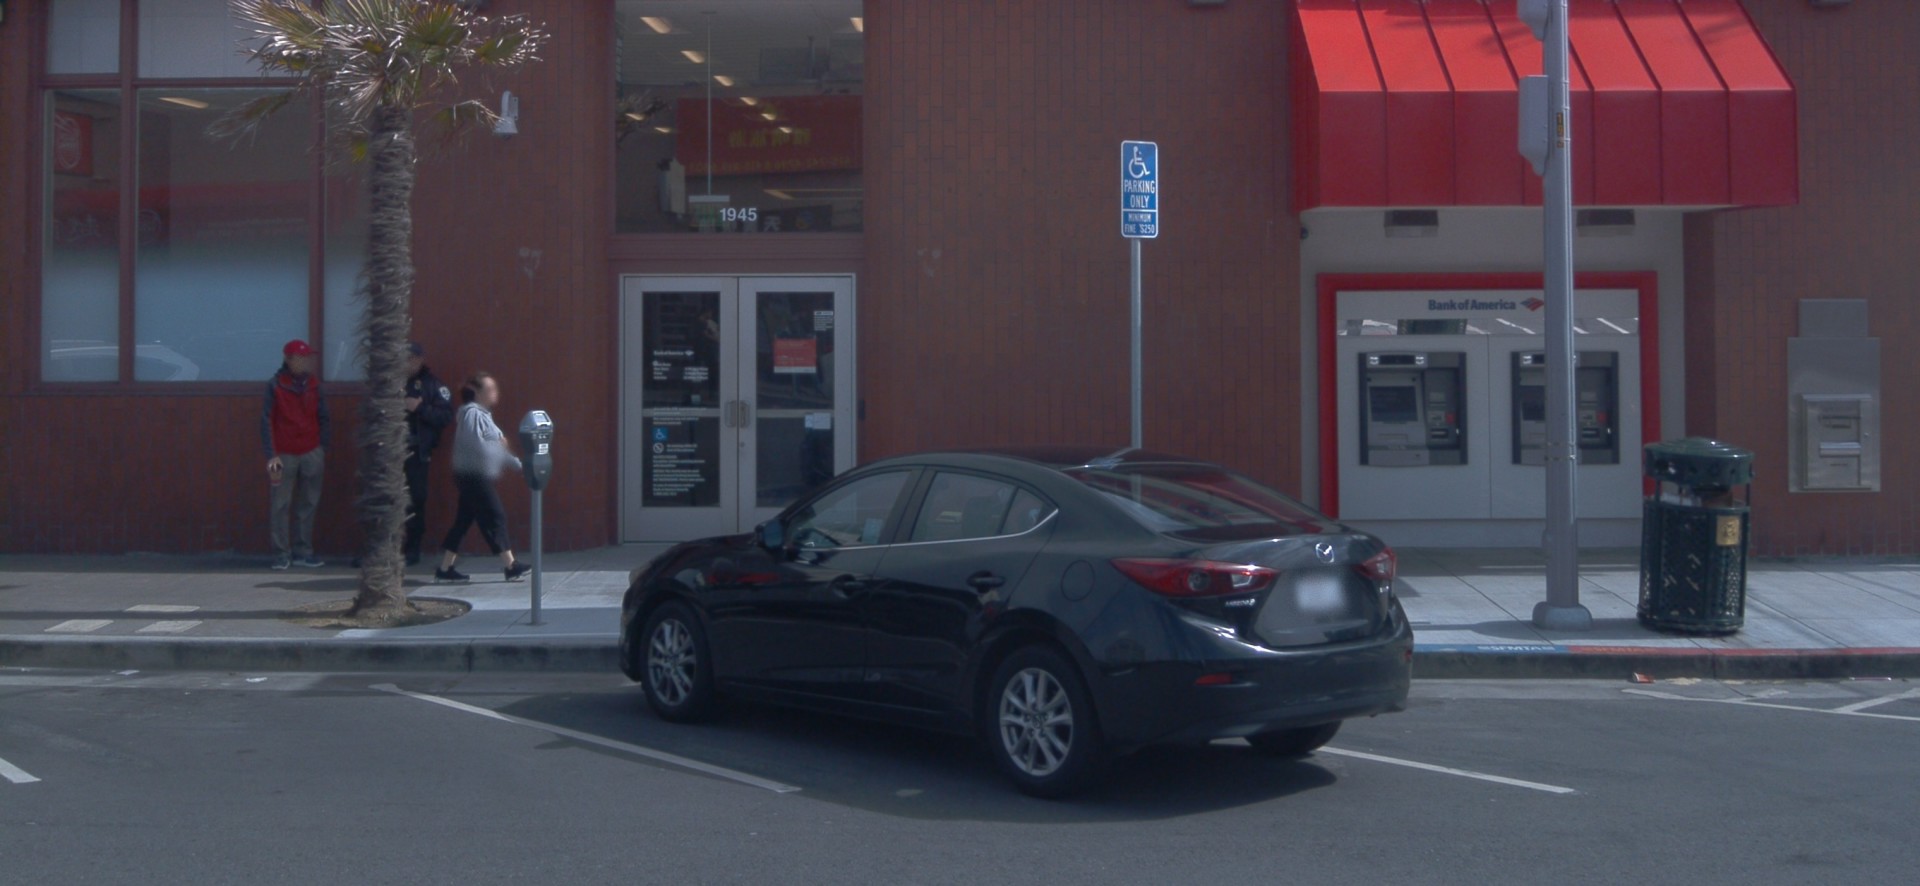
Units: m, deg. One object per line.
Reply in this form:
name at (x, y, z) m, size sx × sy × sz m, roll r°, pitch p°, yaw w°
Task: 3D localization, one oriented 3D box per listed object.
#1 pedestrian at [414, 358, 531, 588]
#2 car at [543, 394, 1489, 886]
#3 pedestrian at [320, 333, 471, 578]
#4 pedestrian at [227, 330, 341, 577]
pedestrian at (-3.443, 0.192, 14.696) m, size 0.754 × 1.537 × 0.693 m, roll 0°, pitch 1°, yaw -9°
car at (0.043, 0.692, 10.162) m, size 2.030 × 1.473 × 4.587 m, roll -3°, pitch 6°, yaw -42°
pedestrian at (-4.244, 0.069, 15.614) m, size 0.862 × 1.740 × 0.685 m, roll 1°, pitch 1°, yaw 16°
pedestrian at (-5.055, 0.052, 15.495) m, size 0.725 × 1.743 × 0.695 m, roll 0°, pitch 1°, yaw -26°
